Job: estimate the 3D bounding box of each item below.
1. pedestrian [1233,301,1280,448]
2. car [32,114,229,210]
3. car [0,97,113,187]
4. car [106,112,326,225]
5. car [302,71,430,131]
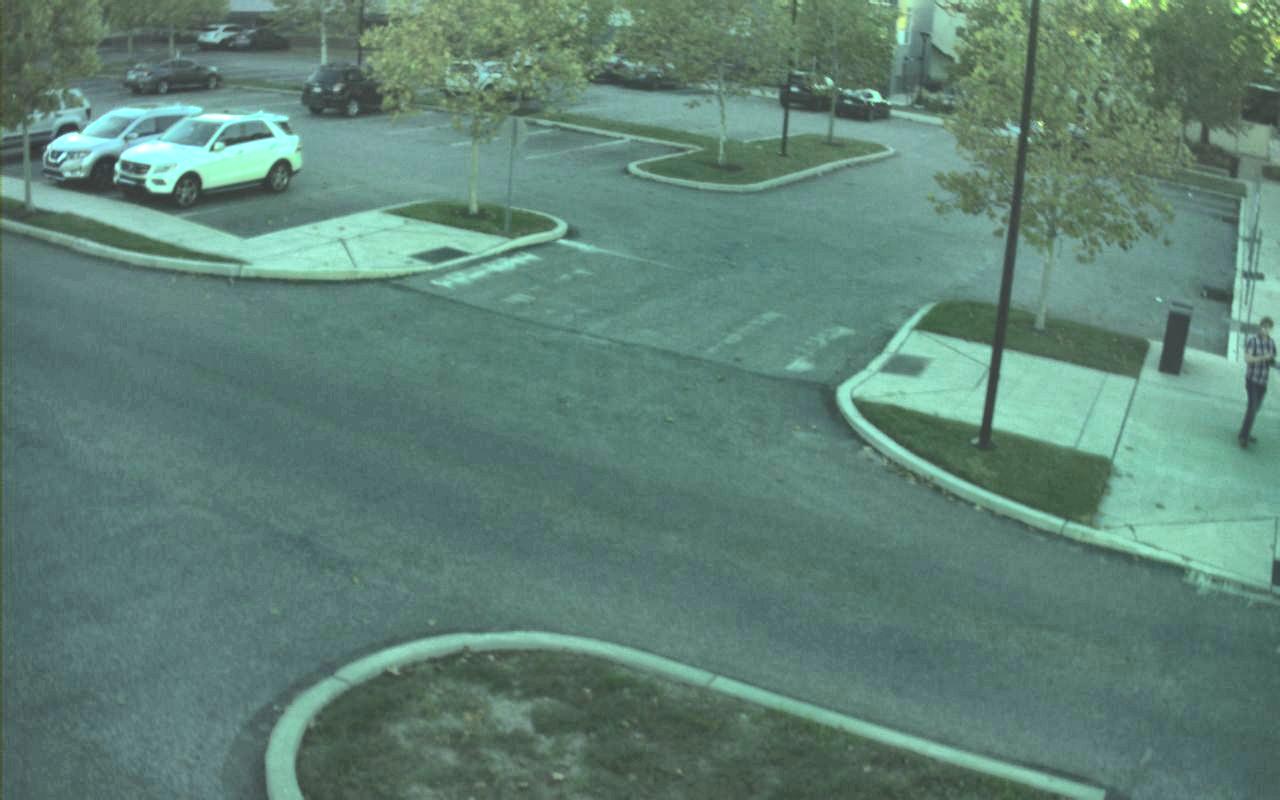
[{"bbox_3d":[8.658,-0.306,15.414,0.732,1.814,0.730,-6,16,-18],"label":"pedestrian"},{"bbox_3d":[-11.649,-5.417,26.455,1.944,1.592,4.551,8,18,28],"label":"car"},{"bbox_3d":[-16.039,-6.604,28.685,2.004,1.683,4.728,8,18,30],"label":"car"},{"bbox_3d":[-9.119,-5.033,25.677,2.043,1.802,4.867,7,18,26],"label":"car"},{"bbox_3d":[-9.247,-10.144,41.211,1.990,1.677,4.646,6,18,24],"label":"car"}]
